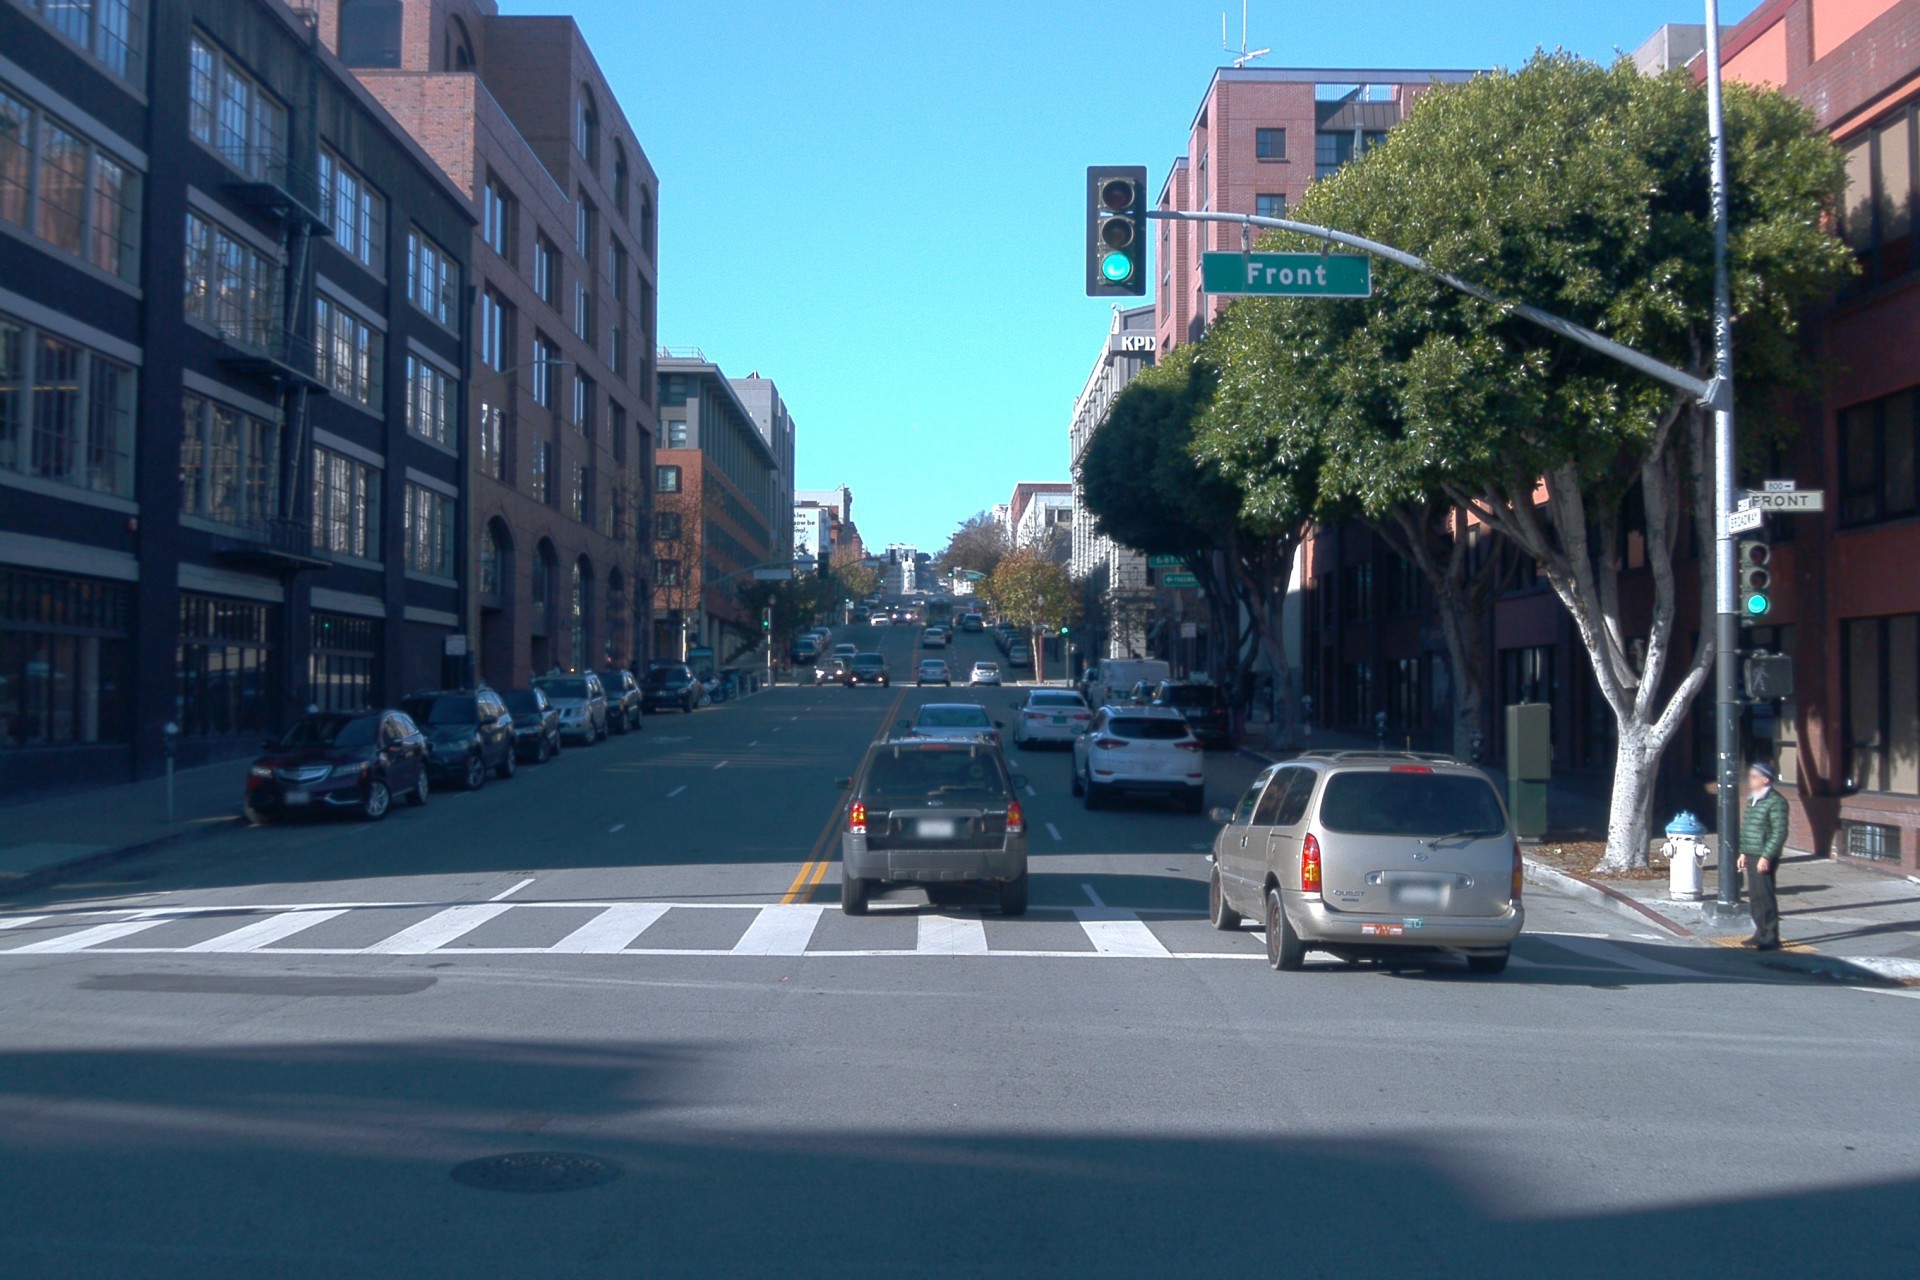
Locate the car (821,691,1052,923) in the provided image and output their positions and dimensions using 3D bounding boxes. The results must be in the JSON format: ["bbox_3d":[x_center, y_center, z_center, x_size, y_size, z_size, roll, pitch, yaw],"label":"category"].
[{"bbox_3d":[-0.260,1.602,21.413,2.096,2.100,4.544,1,-2,-1],"label":"car"}]

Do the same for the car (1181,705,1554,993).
[{"bbox_3d":[3.262,1.616,17.715,2.113,2.070,4.763,1,-2,-2],"label":"car"}]

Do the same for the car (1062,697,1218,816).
[{"bbox_3d":[2.892,1.869,34.475,2.088,1.800,4.683,1,-2,-1],"label":"car"}]

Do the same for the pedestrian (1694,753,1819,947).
[{"bbox_3d":[7.633,1.991,19.957,0.740,1.790,0.842,1,-2,-20],"label":"pedestrian"}]

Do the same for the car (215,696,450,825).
[{"bbox_3d":[-9.670,1.812,32.513,2.223,1.820,4.703,1,-2,0],"label":"car"}]
